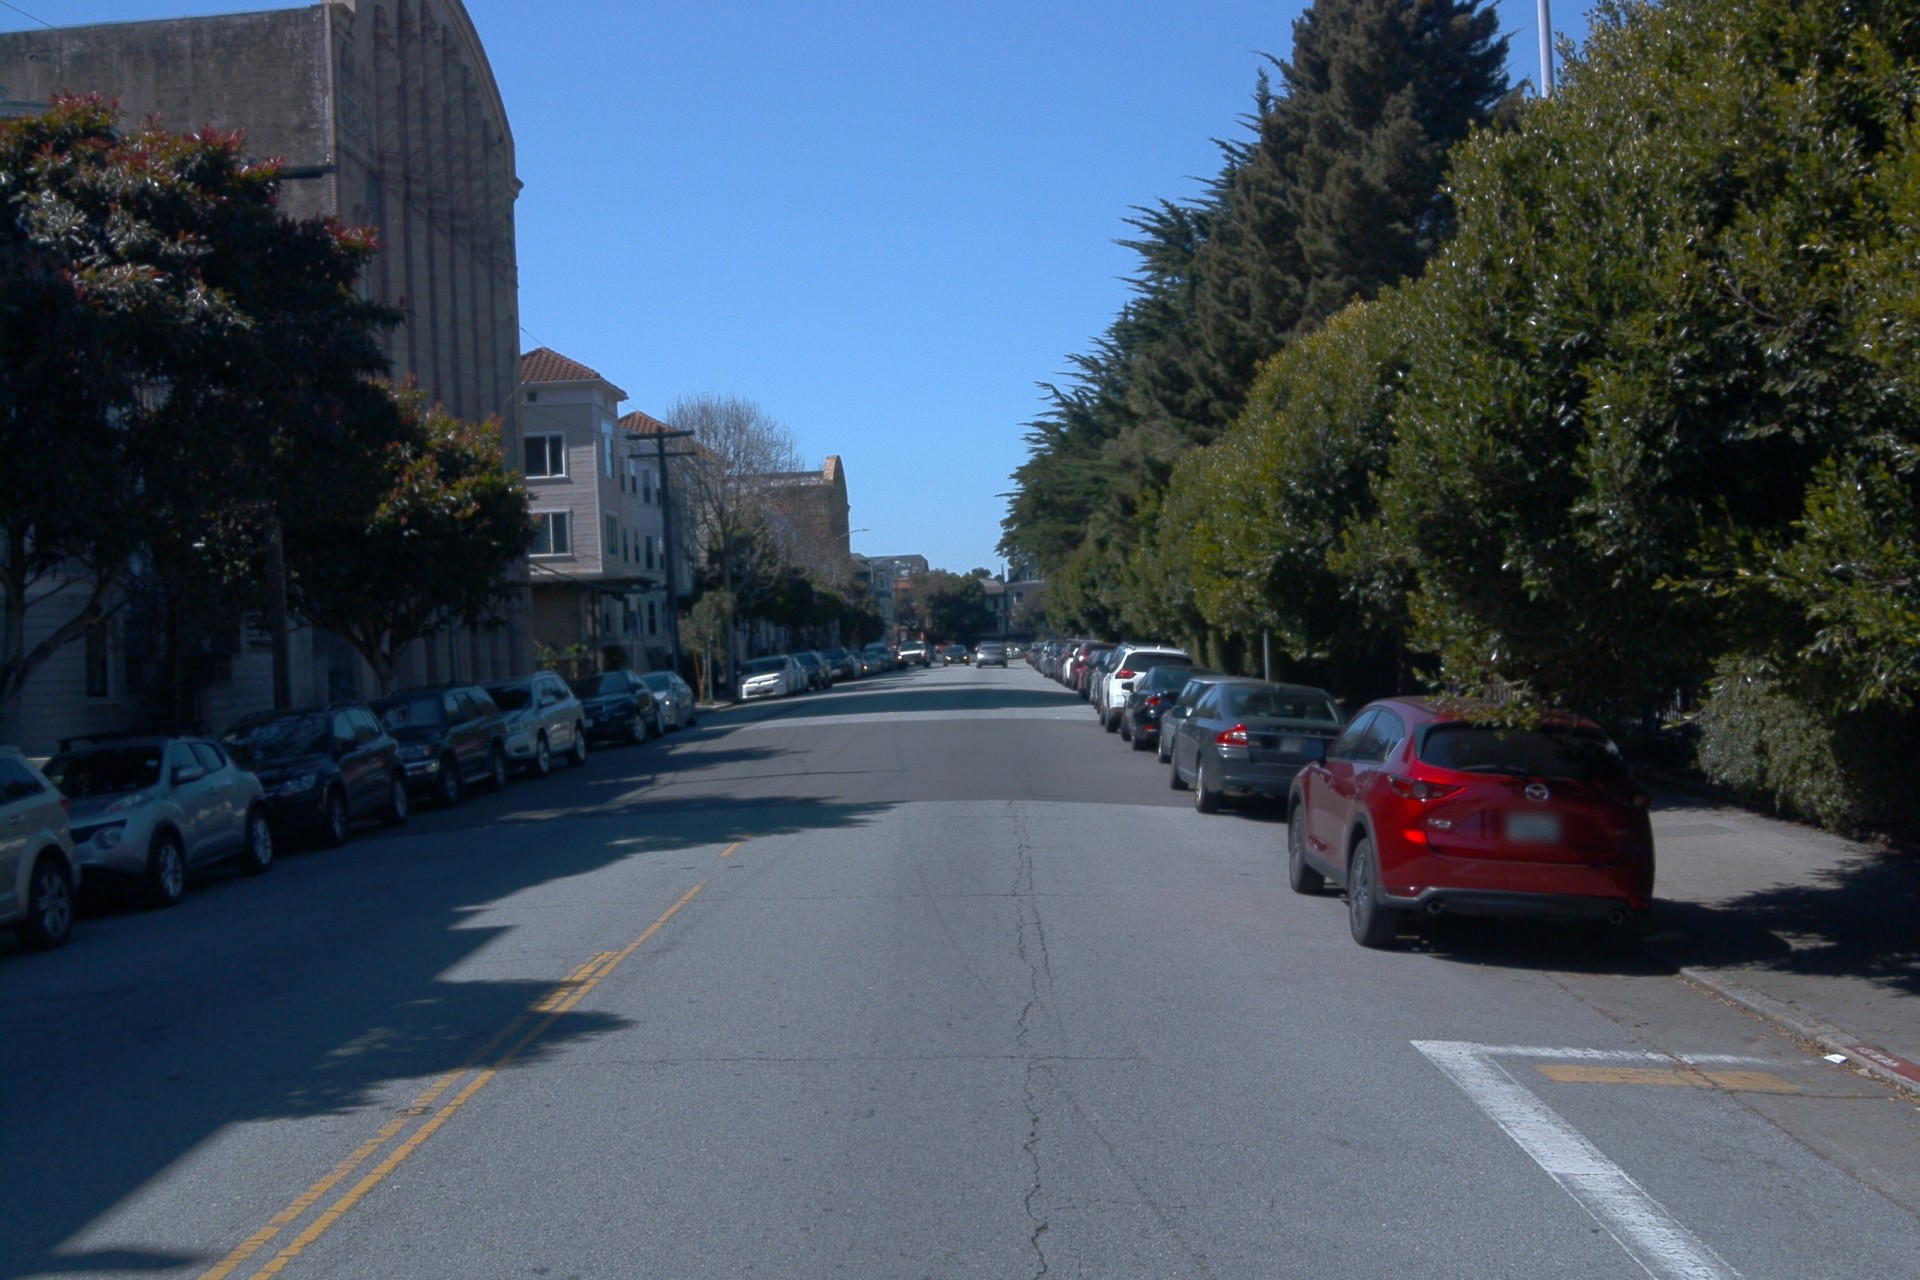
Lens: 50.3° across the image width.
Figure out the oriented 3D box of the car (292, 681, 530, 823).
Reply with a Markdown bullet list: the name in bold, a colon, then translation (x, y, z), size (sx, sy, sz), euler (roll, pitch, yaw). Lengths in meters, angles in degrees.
- **car**: translation (-7.945, 1.569, 30.105), size (2.005, 1.780, 4.776), euler (1, 0, 3)

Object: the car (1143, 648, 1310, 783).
- **car**: translation (3.817, 1.041, 29.891), size (1.987, 1.780, 3.836), euler (1, 0, 1)

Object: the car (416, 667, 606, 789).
- **car**: translation (-7.600, 1.431, 35.116), size (2.022, 1.840, 4.848), euler (1, 0, 2)

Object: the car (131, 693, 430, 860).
- **car**: translation (-7.993, 1.549, 24.550), size (2.066, 1.660, 4.551), euler (1, 0, 0)

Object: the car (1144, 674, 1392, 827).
- **car**: translation (3.553, 1.233, 24.582), size (2.225, 1.530, 5.001), euler (1, 0, 0)

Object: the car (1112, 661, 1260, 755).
- **car**: translation (3.777, 1.107, 34.968), size (2.050, 1.420, 4.776), euler (1, 0, 1)

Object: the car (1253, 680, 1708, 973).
- **car**: translation (3.597, 1.212, 15.140), size (2.214, 1.700, 4.644), euler (1, 0, 1)
